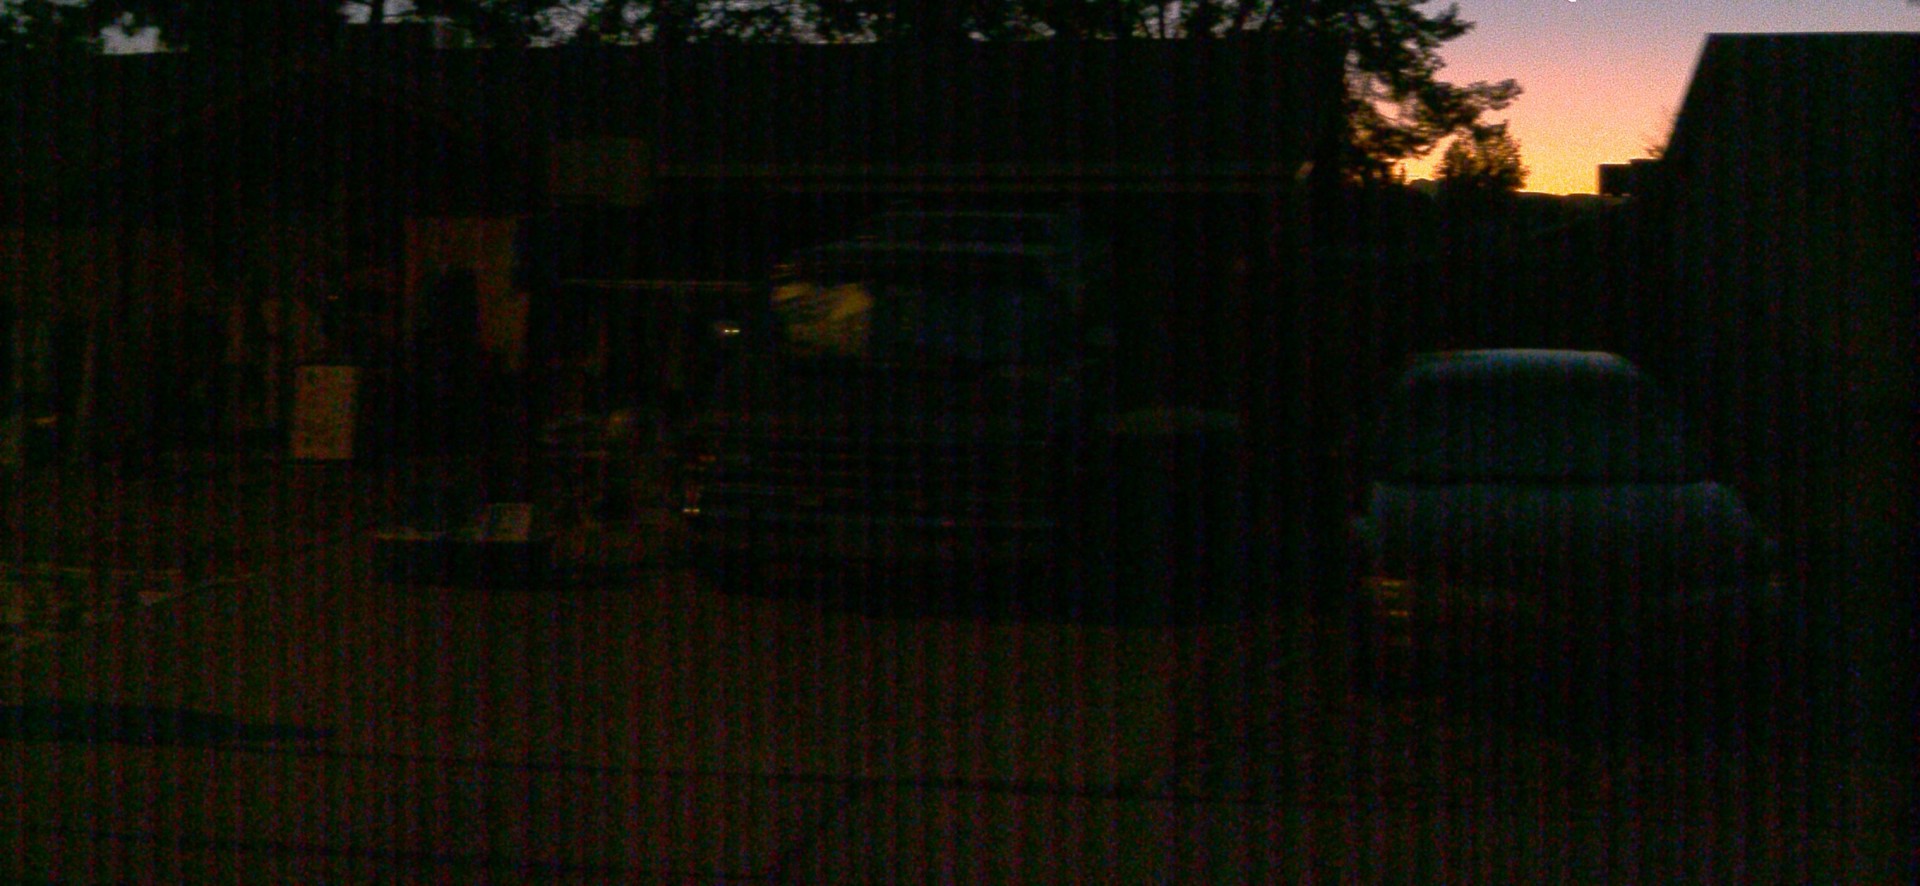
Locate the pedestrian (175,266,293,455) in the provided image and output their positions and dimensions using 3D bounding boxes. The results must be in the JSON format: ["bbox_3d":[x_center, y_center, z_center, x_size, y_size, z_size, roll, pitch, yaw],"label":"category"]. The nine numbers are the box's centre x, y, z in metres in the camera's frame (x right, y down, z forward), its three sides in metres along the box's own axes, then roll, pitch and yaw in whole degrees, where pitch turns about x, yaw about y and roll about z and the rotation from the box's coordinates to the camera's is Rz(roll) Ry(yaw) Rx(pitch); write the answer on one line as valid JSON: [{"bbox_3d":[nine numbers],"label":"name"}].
[{"bbox_3d":[-6.539,-0.768,18.853,0.806,1.638,0.653,2,2,36],"label":"pedestrian"}]

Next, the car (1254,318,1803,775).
[{"bbox_3d":[2.635,0.253,10.961,2.142,1.563,5.120,1,5,8],"label":"car"}]

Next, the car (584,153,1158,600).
[{"bbox_3d":[-0.244,-0.644,13.703,2.585,2.301,5.464,1,5,10],"label":"car"}]
